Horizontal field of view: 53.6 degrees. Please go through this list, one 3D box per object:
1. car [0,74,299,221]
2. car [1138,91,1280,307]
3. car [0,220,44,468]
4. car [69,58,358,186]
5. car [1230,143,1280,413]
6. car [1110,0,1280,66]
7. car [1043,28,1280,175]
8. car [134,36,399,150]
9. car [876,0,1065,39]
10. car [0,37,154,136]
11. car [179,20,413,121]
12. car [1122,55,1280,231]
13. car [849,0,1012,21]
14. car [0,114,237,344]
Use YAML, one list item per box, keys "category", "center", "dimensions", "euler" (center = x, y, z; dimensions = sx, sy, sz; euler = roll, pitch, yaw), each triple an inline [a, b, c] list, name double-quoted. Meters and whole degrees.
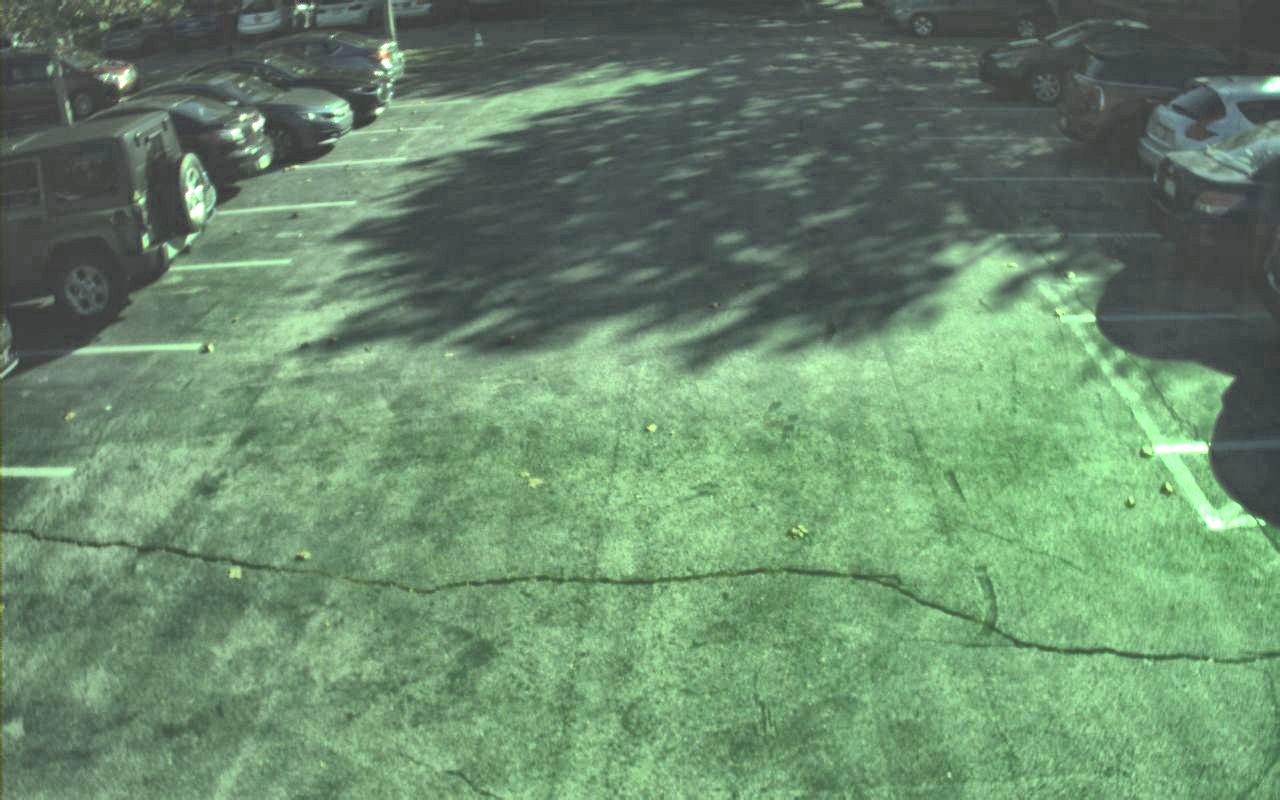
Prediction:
- category: "car"
  center: [-7.186, -3.568, 16.446]
  dimensions: [4.365, 1.621, 1.969]
  euler: [1, 16, 5]
- category: "car"
  center: [7.000, -1.925, 10.384]
  dimensions: [4.397, 1.589, 1.959]
  euler: [2, 16, 9]
- category: "car"
  center: [-7.522, -0.475, 8.992]
  dimensions: [4.364, 1.561, 1.937]
  euler: [0, 16, 3]
- category: "car"
  center: [-6.809, -4.430, 18.747]
  dimensions: [4.425, 1.584, 1.933]
  euler: [-1, 16, -1]
- category: "car"
  center: [6.894, -0.960, 8.012]
  dimensions: [4.408, 1.591, 1.955]
  euler: [-1, 16, 1]
- category: "car"
  center: [14.002, -9.270, 27.809]
  dimensions: [4.507, 1.624, 1.953]
  euler: [0, 16, 5]
- category: "car"
  center: [7.782, -4.066, 15.398]
  dimensions: [4.478, 1.625, 1.967]
  euler: [0, 16, 3]
- category: "car"
  center: [-6.582, -5.384, 20.859]
  dimensions: [4.396, 1.604, 1.954]
  euler: [0, 16, 3]
- category: "car"
  center: [8.310, -9.979, 29.944]
  dimensions: [4.601, 1.607, 1.980]
  euler: [0, 16, 4]
- category: "car"
  center: [-14.141, -7.407, 26.471]
  dimensions: [4.890, 1.756, 2.076]
  euler: [0, 16, 2]
- category: "car"
  center: [-6.765, -6.491, 23.468]
  dimensions: [4.409, 1.621, 1.964]
  euler: [-2, 16, -3]
- category: "car"
  center: [7.849, -3.005, 12.863]
  dimensions: [4.349, 1.624, 1.945]
  euler: [1, 16, 7]
- category: "car"
  center: [8.418, -11.887, 34.606]
  dimensions: [4.487, 1.647, 1.974]
  euler: [-1, 16, 1]
- category: "car"
  center: [-6.638, -1.732, 11.583]
  dimensions: [4.641, 1.870, 2.046]
  euler: [0, 16, 4]
